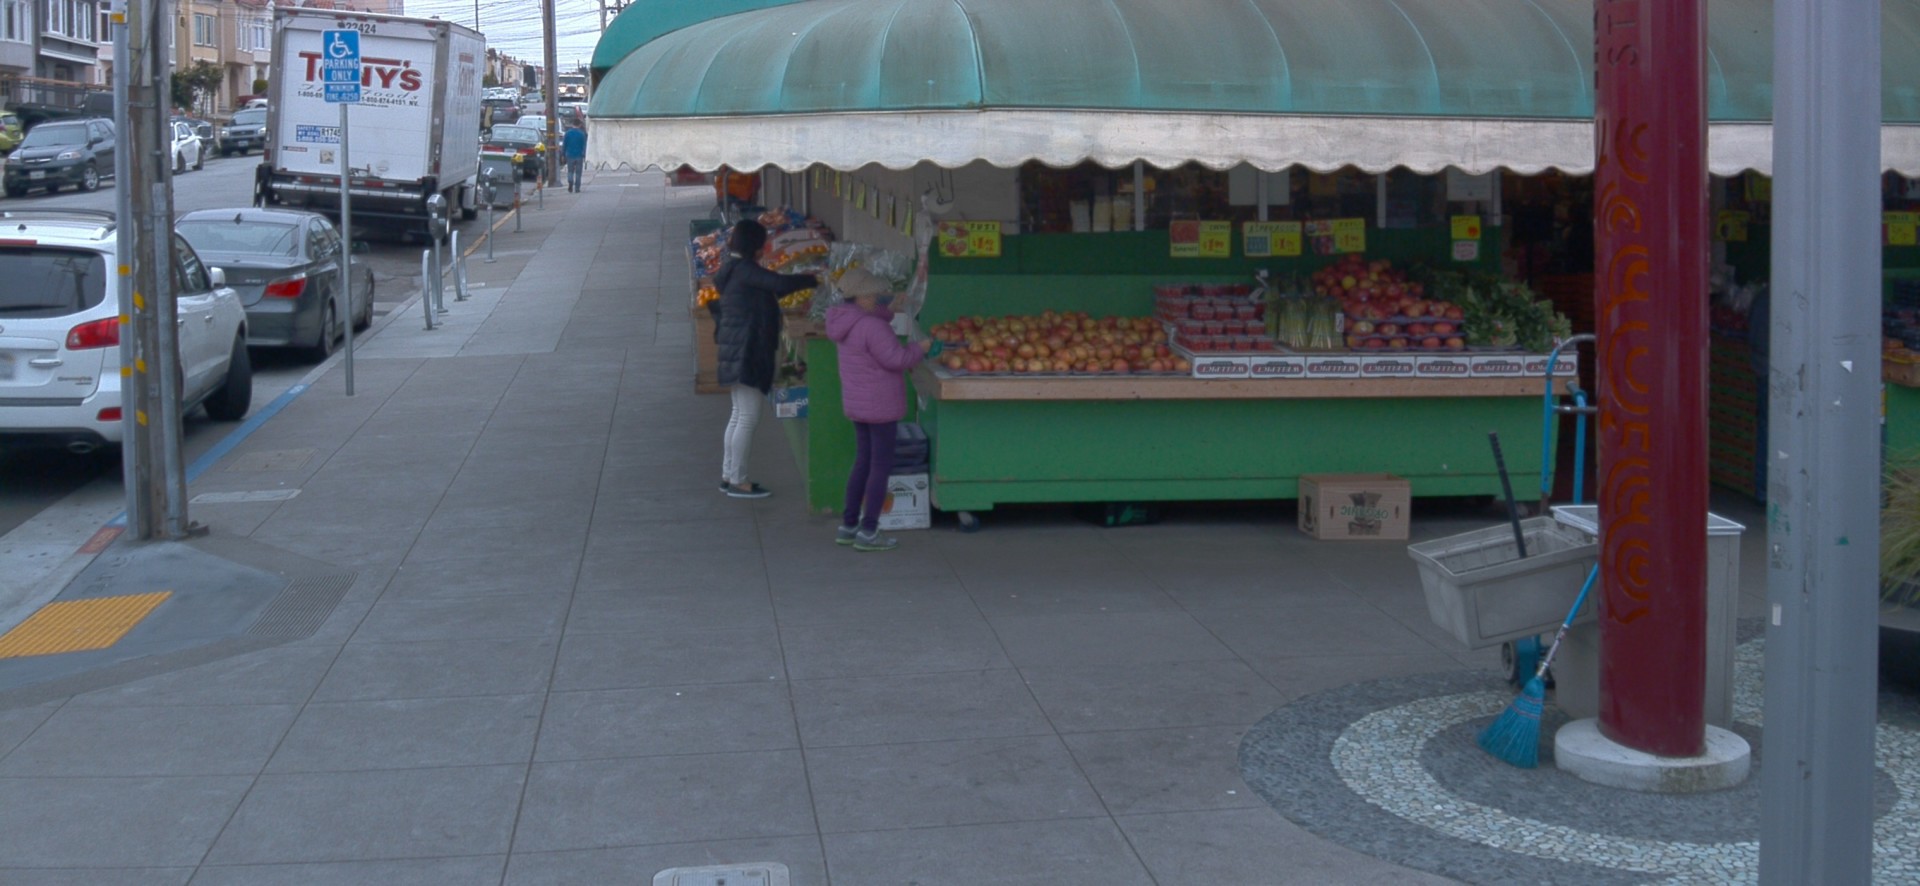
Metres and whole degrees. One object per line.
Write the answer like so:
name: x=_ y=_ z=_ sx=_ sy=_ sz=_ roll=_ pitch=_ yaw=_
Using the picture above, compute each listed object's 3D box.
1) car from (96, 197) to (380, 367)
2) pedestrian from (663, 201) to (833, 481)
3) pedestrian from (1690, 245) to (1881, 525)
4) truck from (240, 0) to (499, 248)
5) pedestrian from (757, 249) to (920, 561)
car: x=-7.150 y=-1.697 z=20.851 sx=1.969 sy=1.513 sz=4.609 roll=-1 pitch=6 yaw=-10
pedestrian: x=-1.282 y=-0.641 z=12.354 sx=0.796 sy=1.607 sz=0.823 roll=-1 pitch=2 yaw=-24
pedestrian: x=4.762 y=-0.364 z=11.902 sx=0.743 sy=1.557 sz=0.755 roll=0 pitch=2 yaw=-7
truck: x=-9.873 y=-5.328 z=35.562 sx=2.914 sy=3.771 sz=10.114 roll=0 pitch=5 yaw=-8
pedestrian: x=-0.625 y=-0.232 z=10.816 sx=0.704 sy=1.564 sz=0.799 roll=0 pitch=2 yaw=8
